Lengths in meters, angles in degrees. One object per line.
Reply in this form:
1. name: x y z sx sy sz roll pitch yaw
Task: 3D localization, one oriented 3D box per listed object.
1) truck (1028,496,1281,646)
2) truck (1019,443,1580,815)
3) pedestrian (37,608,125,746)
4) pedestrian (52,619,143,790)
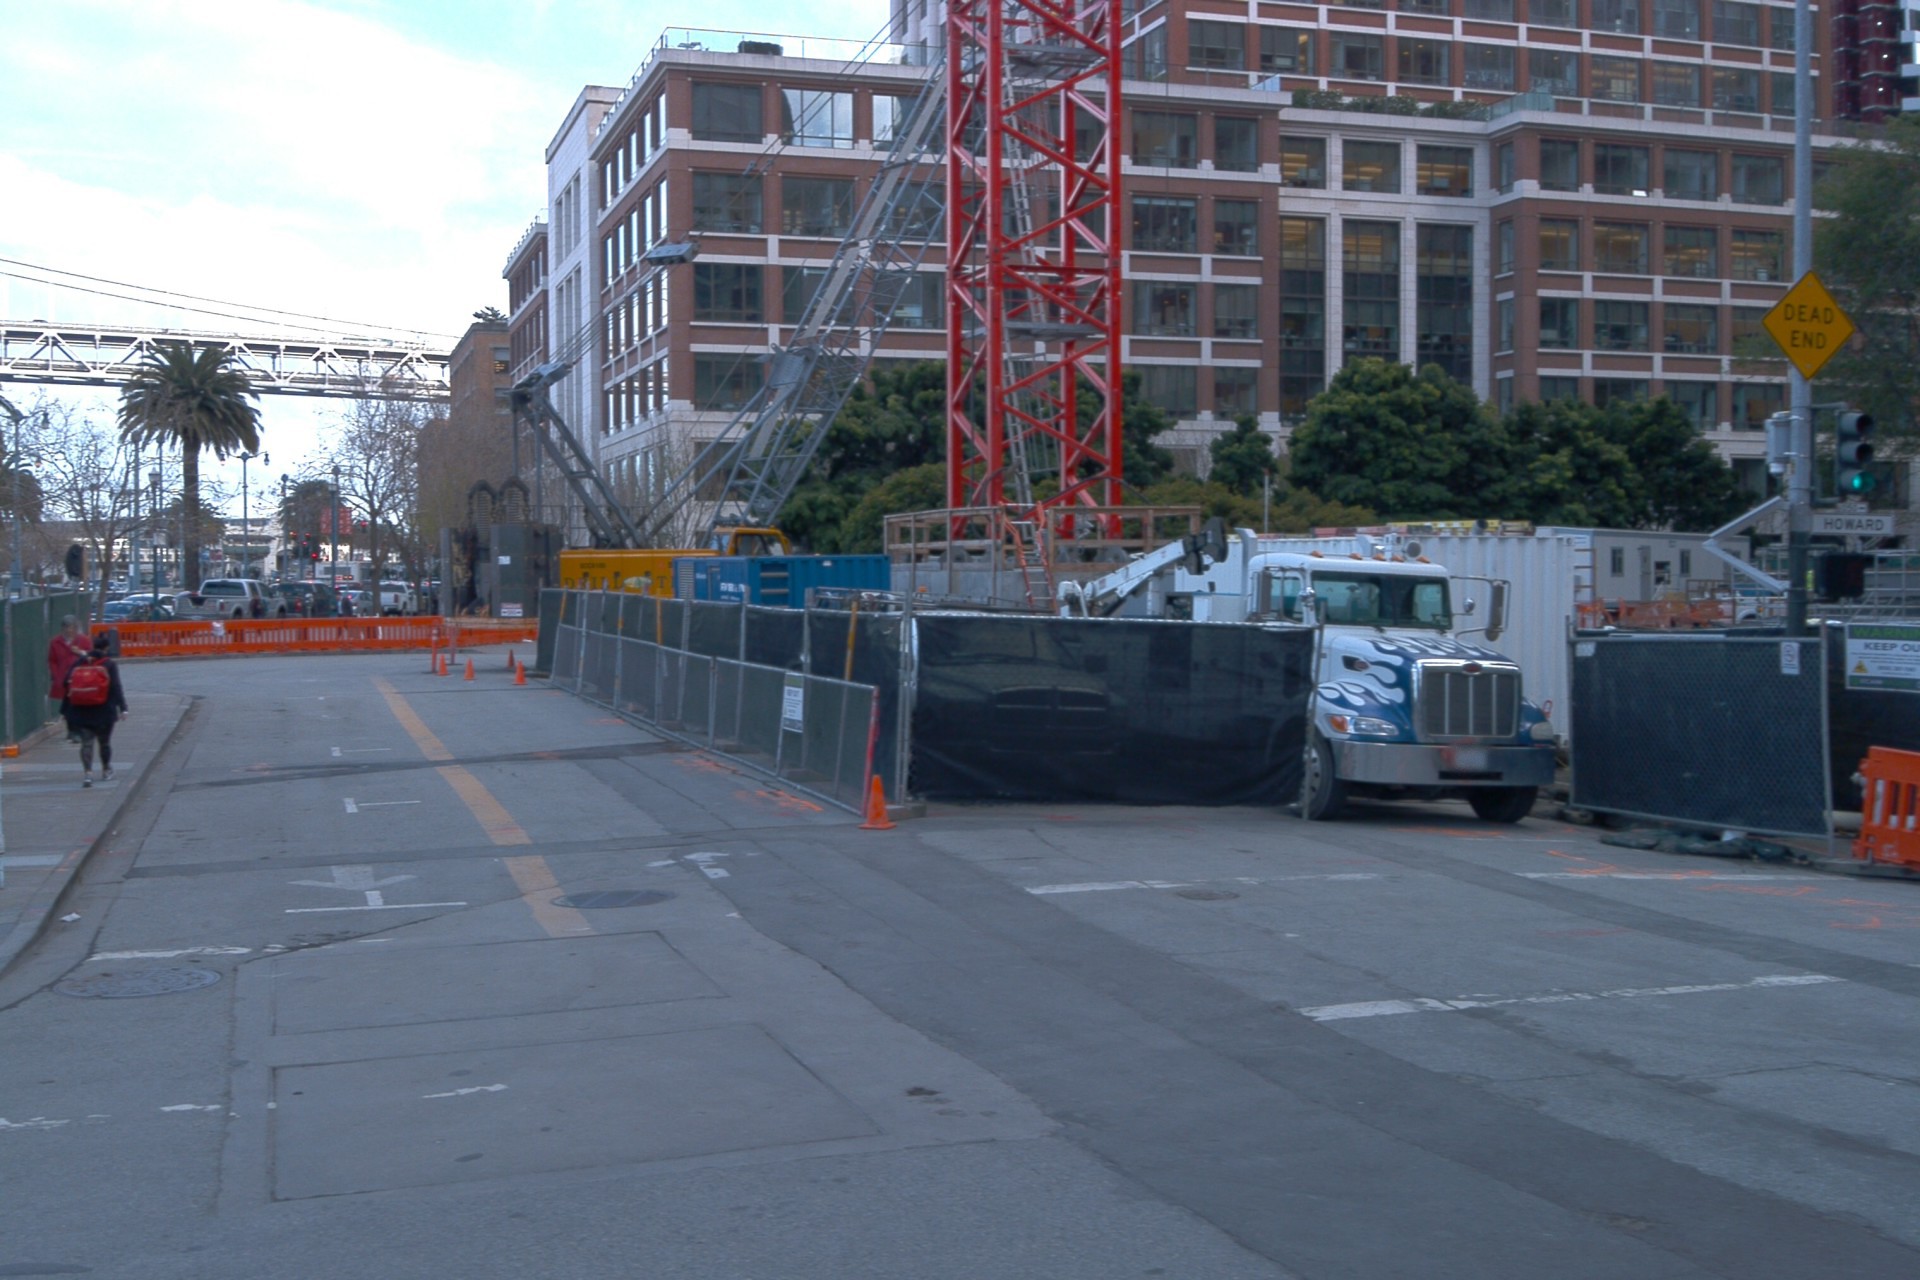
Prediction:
1. truck: 2.118 -0.734 23.463 1.127 1.550 4.267 0 0 -20
2. truck: 3.326 -0.116 22.389 2.982 3.380 7.061 0 0 -19
3. pedestrian: -11.554 0.477 26.913 0.927 1.790 0.852 0 0 -14
4. pedestrian: -9.179 0.664 21.813 0.770 1.760 1.198 0 0 -17
